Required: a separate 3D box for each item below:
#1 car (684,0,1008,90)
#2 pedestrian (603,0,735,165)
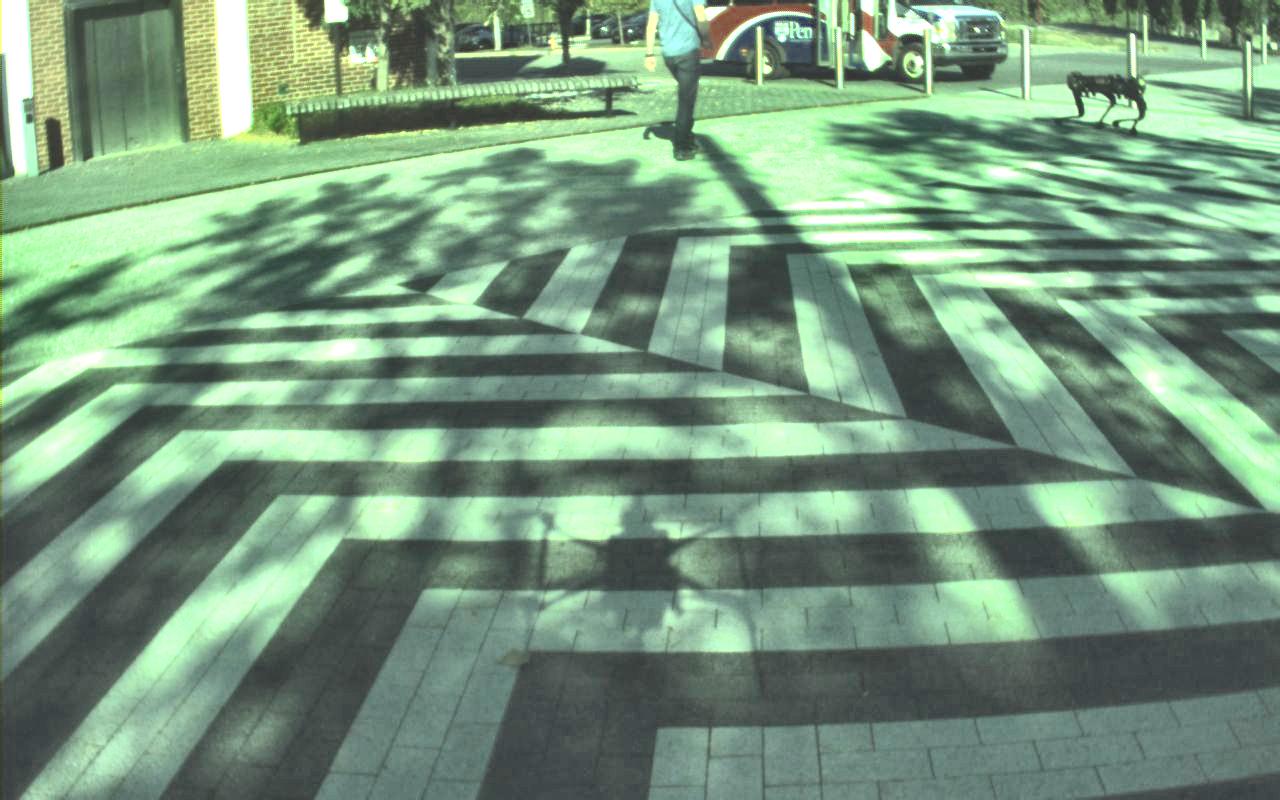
[{"bbox_3d":[3.721,-6.954,22.646,2.411,2.080,6.083,-14,21,-37],"label":"car"},{"bbox_3d":[0.270,-2.912,10.934,0.807,1.570,0.892,8,18,31],"label":"pedestrian"}]
